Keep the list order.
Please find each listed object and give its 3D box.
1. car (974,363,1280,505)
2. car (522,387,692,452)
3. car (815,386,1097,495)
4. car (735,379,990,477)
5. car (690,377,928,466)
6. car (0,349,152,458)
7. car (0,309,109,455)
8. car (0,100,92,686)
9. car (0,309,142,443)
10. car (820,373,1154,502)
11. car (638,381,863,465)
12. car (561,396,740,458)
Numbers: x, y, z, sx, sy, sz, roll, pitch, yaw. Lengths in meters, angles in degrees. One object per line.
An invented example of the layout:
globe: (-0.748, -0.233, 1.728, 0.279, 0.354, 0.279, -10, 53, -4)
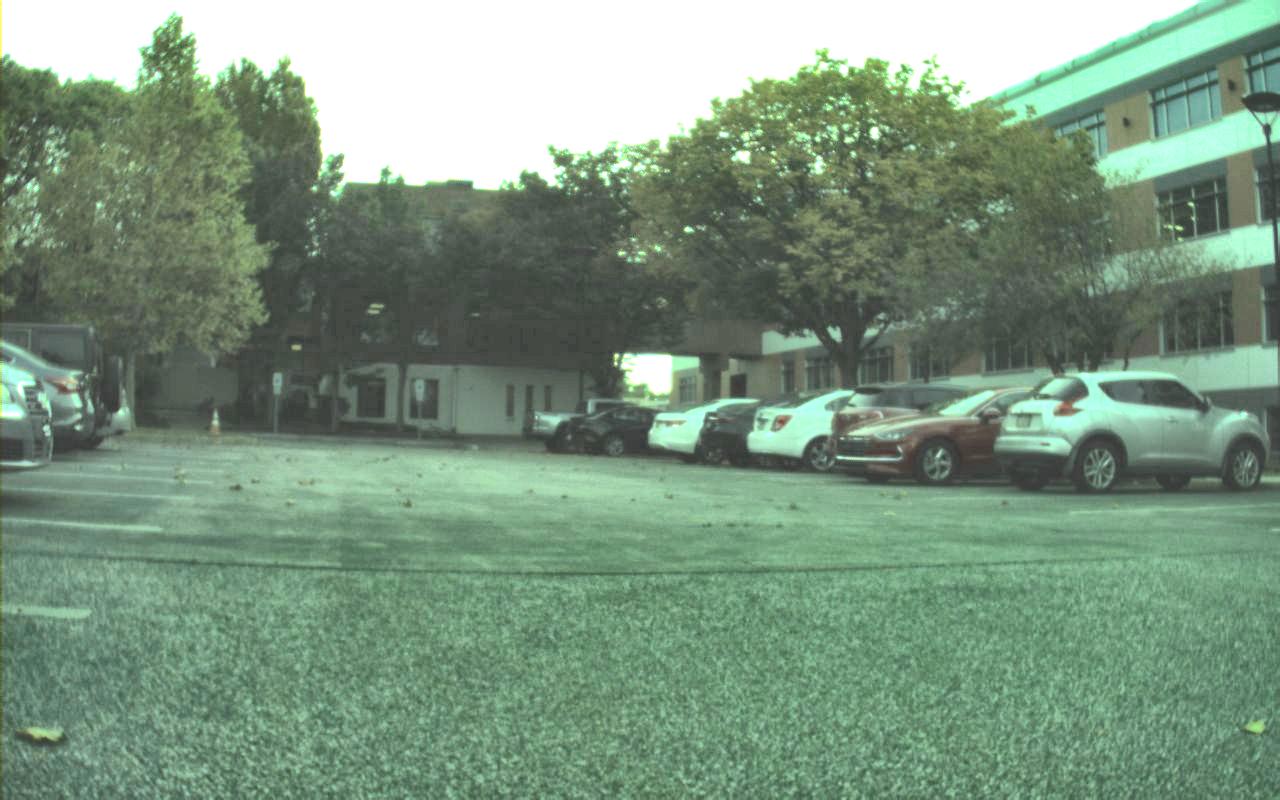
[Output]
car: (6.528, 0.390, 15.336, 4.156, 1.640, 1.866, 0, 1, -15)
car: (-1.064, 0.590, 40.006, 5.019, 1.917, 2.095, 0, 1, -17)
car: (5.297, 0.613, 20.483, 4.413, 1.628, 1.946, 0, 1, -15)
car: (4.102, 0.473, 22.995, 4.349, 1.663, 1.914, 0, 1, -14)
car: (3.410, 0.397, 25.358, 4.425, 1.655, 1.947, 0, 1, -15)
car: (-10.125, 0.078, 18.241, 4.479, 1.656, 1.967, 0, 1, -16)
car: (-8.741, -0.193, 13.407, 4.489, 1.655, 1.974, 0, 1, -19)
car: (-5.738, -0.083, 6.312, 4.650, 1.637, 1.993, 0, 1, -17)
car: (-9.407, -0.305, 15.911, 4.685, 1.798, 2.023, 0, 1, -19)
car: (5.077, 0.476, 17.698, 4.623, 1.654, 1.973, 0, 1, -16)
car: (2.424, 0.475, 27.784, 4.588, 1.719, 1.992, 0, 1, -14)
car: (0.284, 0.707, 35.146, 4.599, 1.601, 1.956, 0, 1, -25)
